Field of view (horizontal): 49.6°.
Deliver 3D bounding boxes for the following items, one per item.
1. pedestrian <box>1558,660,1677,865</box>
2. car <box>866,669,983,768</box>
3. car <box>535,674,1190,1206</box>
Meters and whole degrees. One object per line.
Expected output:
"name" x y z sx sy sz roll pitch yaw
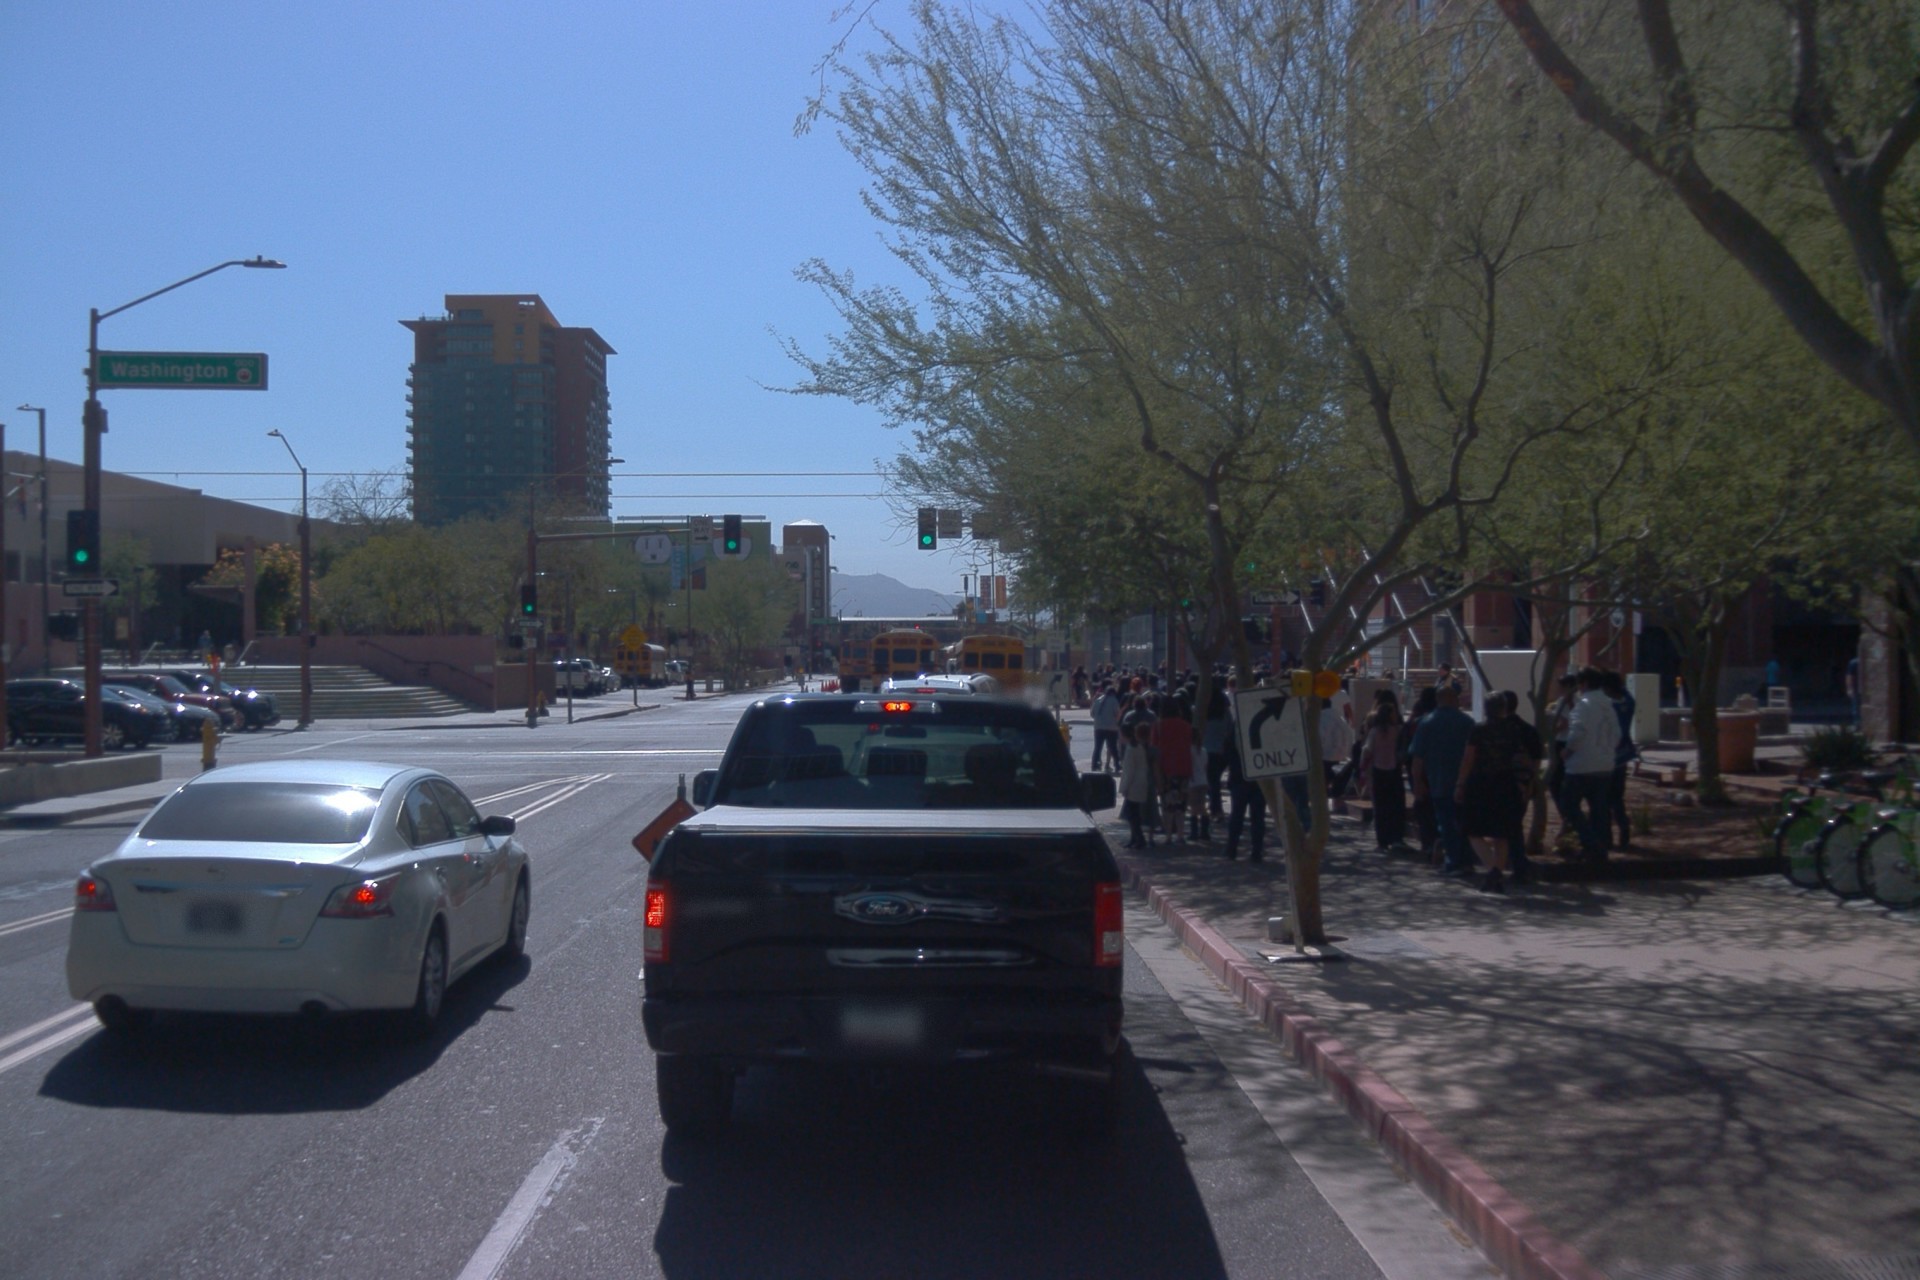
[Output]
"pedestrian" 6.171 1.133 19.541 0.835 1.880 0.792 0 0 -2
"car" -0.512 1.210 33.274 1.753 1.430 4.270 0 0 1
"car" -0.355 1.185 10.590 2.486 1.950 5.329 0 0 0
